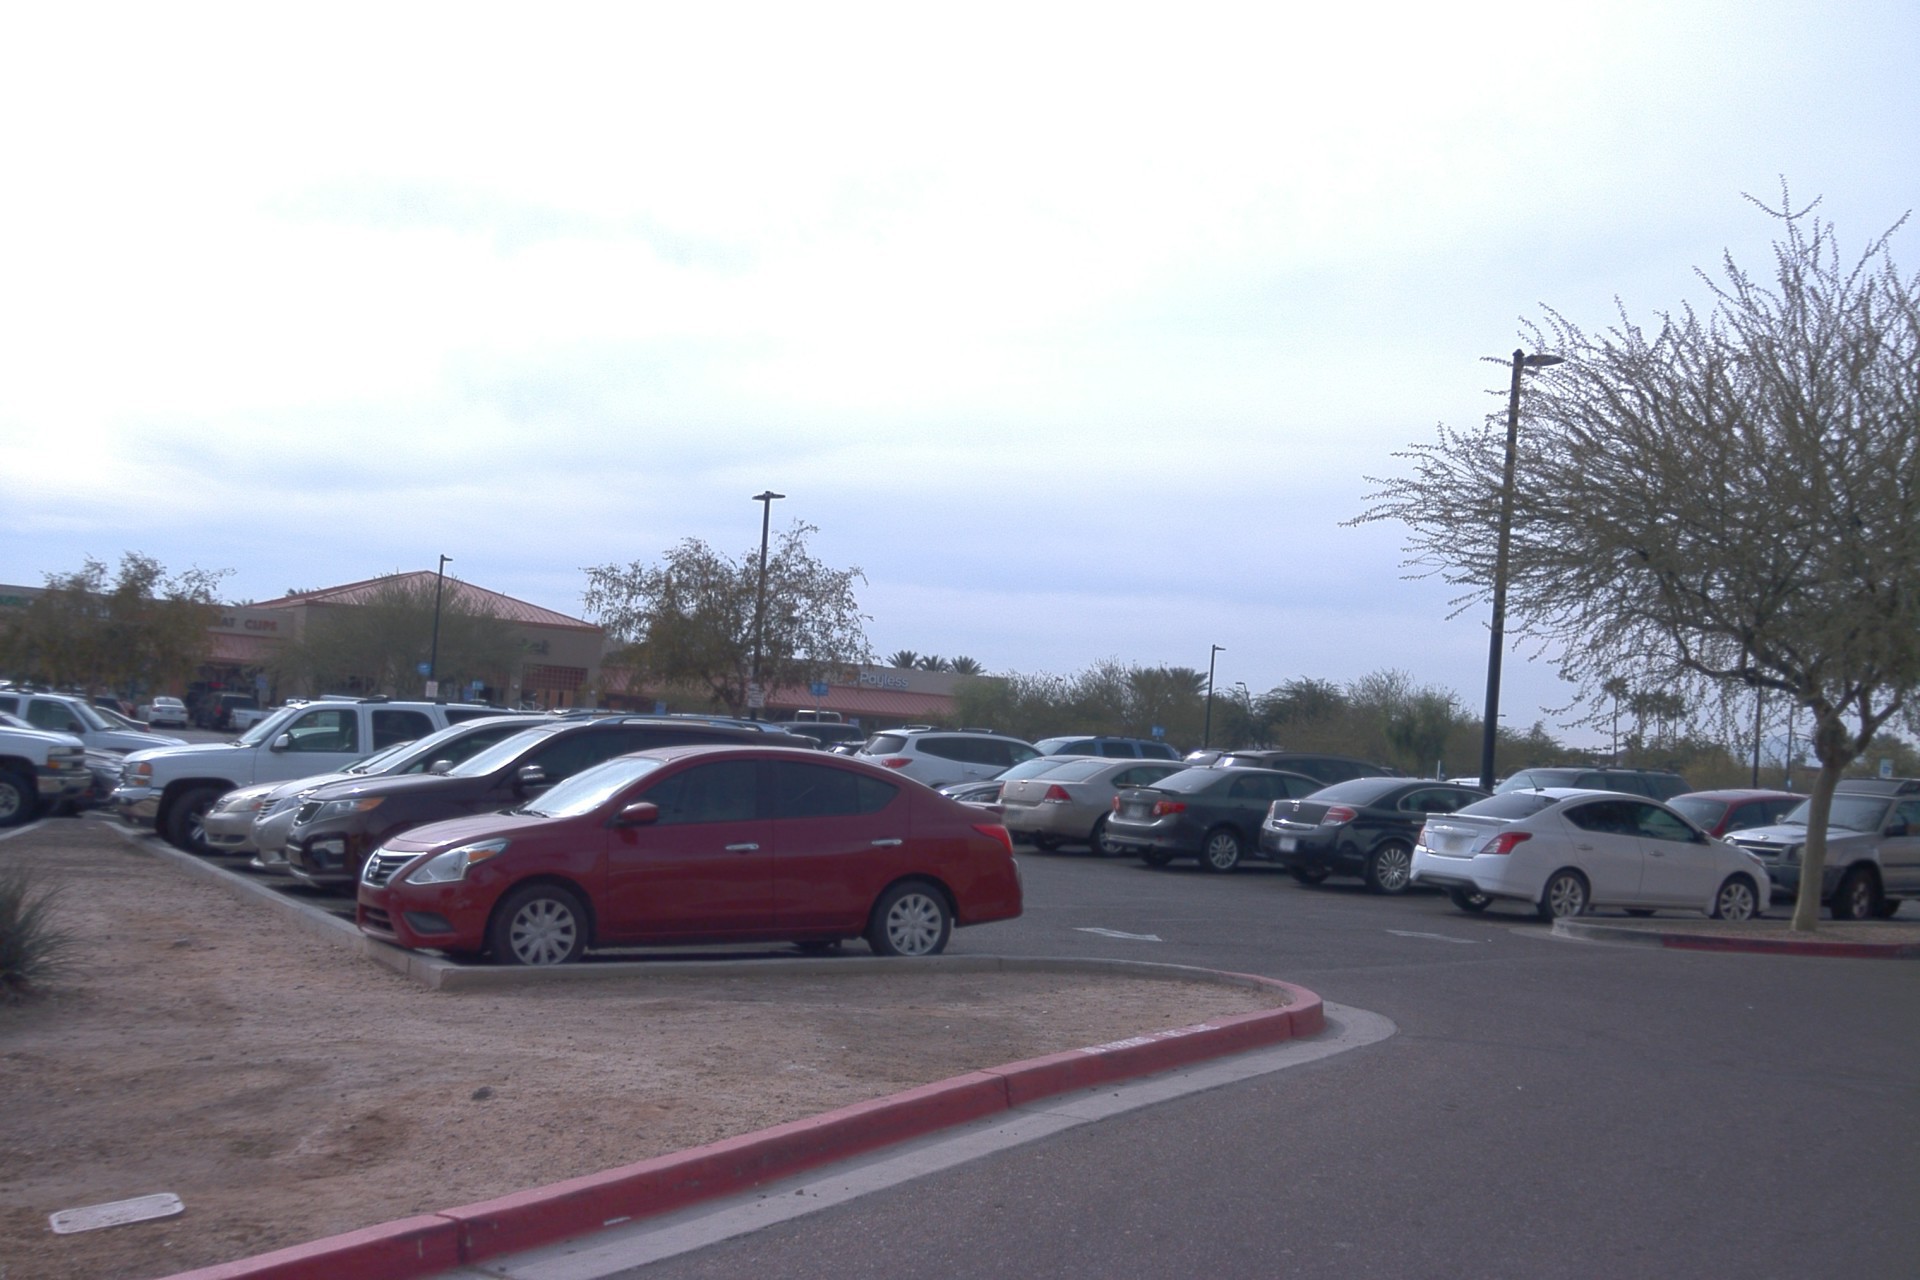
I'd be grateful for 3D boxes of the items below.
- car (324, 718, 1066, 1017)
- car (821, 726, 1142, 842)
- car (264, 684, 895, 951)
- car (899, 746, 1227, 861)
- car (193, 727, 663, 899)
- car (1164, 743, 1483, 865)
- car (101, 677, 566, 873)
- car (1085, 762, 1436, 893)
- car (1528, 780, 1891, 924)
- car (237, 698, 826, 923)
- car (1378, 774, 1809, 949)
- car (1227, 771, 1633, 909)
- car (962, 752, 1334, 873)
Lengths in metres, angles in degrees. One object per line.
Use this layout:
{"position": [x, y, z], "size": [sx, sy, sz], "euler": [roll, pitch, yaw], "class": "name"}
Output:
{"position": [-1.750, 1.416, 14.174], "size": [4.600, 1.680, 1.959], "euler": [2, -1, -31], "class": "car"}
{"position": [0.415, 2.503, 37.059], "size": [5.248, 1.850, 2.387], "euler": [2, -1, -32], "class": "car"}
{"position": [-3.180, 1.384, 17.491], "size": [4.720, 1.930, 2.280], "euler": [2, -1, -29], "class": "car"}
{"position": [1.718, 2.632, 34.113], "size": [4.964, 1.660, 2.184], "euler": [2, -1, -30], "class": "car"}
{"position": [-5.690, 1.784, 22.183], "size": [4.581, 1.610, 2.031], "euler": [1, -1, -24], "class": "car"}
{"position": [6.543, 2.873, 37.270], "size": [5.265, 1.950, 2.390], "euler": [1, -1, -27], "class": "car"}
{"position": [-7.426, 1.537, 24.596], "size": [4.958, 2.090, 2.380], "euler": [1, -1, -25], "class": "car"}
{"position": [4.239, 2.564, 29.166], "size": [4.539, 1.580, 2.092], "euler": [2, -1, -29], "class": "car"}
{"position": [10.583, 2.911, 29.289], "size": [4.570, 1.700, 2.376], "euler": [2, -1, -29], "class": "car"}
{"position": [-4.095, 1.544, 19.847], "size": [5.118, 1.870, 2.260], "euler": [1, -1, -24], "class": "car"}
{"position": [7.322, 2.469, 23.942], "size": [4.543, 1.680, 2.163], "euler": [1, -1, -28], "class": "car"}
{"position": [6.111, 2.528, 26.914], "size": [4.907, 1.500, 2.133], "euler": [1, -1, -27], "class": "car"}
{"position": [2.901, 2.570, 31.725], "size": [5.255, 1.580, 2.343], "euler": [2, -1, -30], "class": "car"}
